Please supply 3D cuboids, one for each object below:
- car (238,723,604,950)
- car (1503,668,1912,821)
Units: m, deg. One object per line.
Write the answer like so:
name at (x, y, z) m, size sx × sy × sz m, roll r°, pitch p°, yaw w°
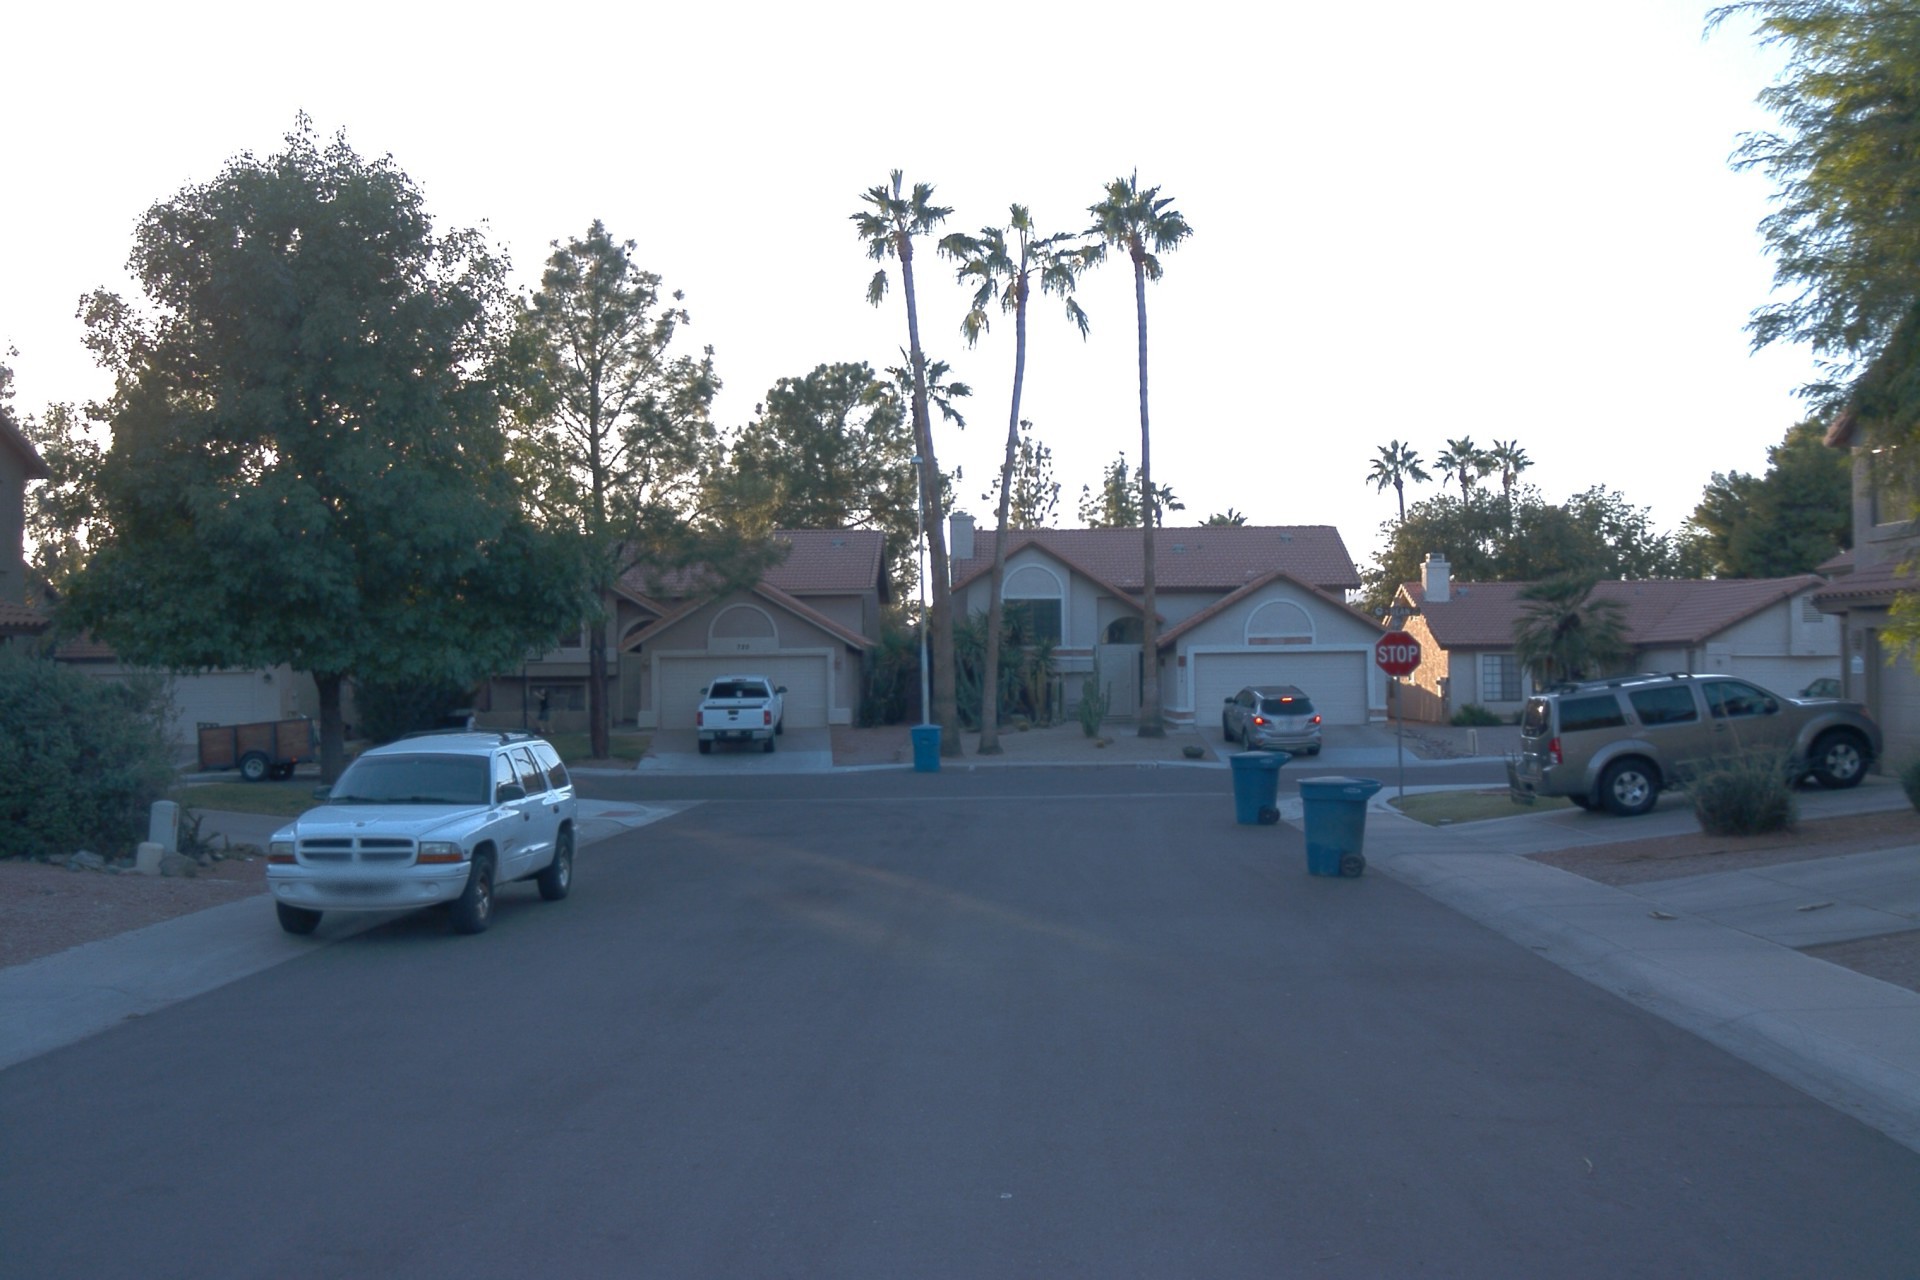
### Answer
car at (-5.018, 1.771, 20.186) m, size 2.045 × 1.830 × 4.911 m, roll 0°, pitch -1°, yaw 3°
car at (10.047, 1.381, 28.259) m, size 4.769 × 1.980 × 2.134 m, roll 0°, pitch -1°, yaw -1°
